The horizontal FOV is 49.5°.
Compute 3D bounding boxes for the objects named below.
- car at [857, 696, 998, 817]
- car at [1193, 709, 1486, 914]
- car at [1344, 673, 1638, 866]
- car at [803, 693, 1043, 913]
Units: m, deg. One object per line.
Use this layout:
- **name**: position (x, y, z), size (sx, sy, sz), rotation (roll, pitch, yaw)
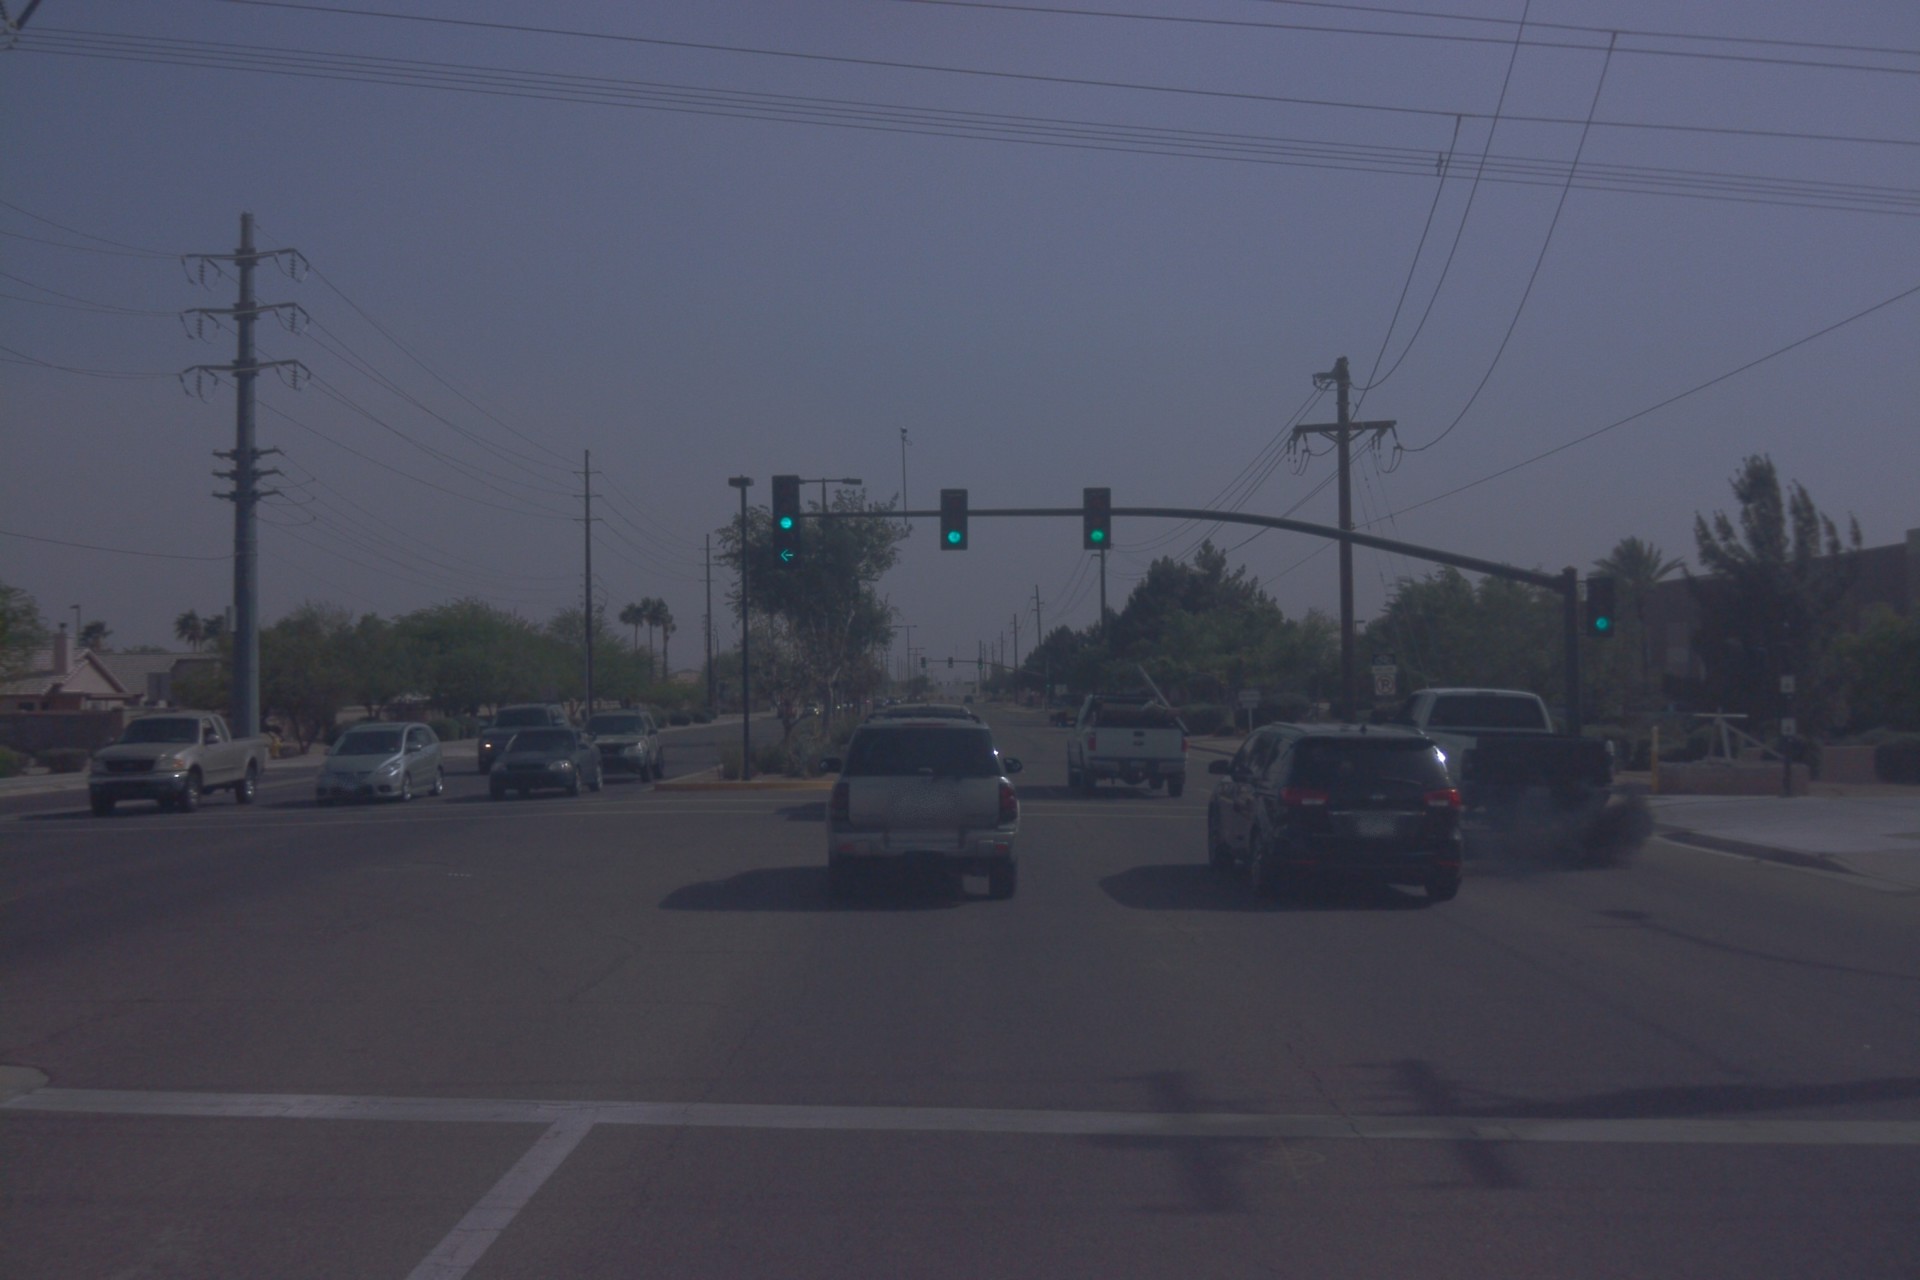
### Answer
- **car**: position (-0.499, 1.846, 34.174), size (2.149, 1.780, 4.304), rotation (0, -1, 0)
- **car**: position (3.835, 1.688, 21.952), size (2.145, 1.800, 4.883), rotation (0, -1, 0)
- **car**: position (7.171, 1.655, 29.024), size (2.415, 2.350, 6.496), rotation (0, -1, 0)
- **car**: position (-0.394, 1.567, 21.617), size (2.201, 1.960, 4.684), rotation (0, -1, -1)
